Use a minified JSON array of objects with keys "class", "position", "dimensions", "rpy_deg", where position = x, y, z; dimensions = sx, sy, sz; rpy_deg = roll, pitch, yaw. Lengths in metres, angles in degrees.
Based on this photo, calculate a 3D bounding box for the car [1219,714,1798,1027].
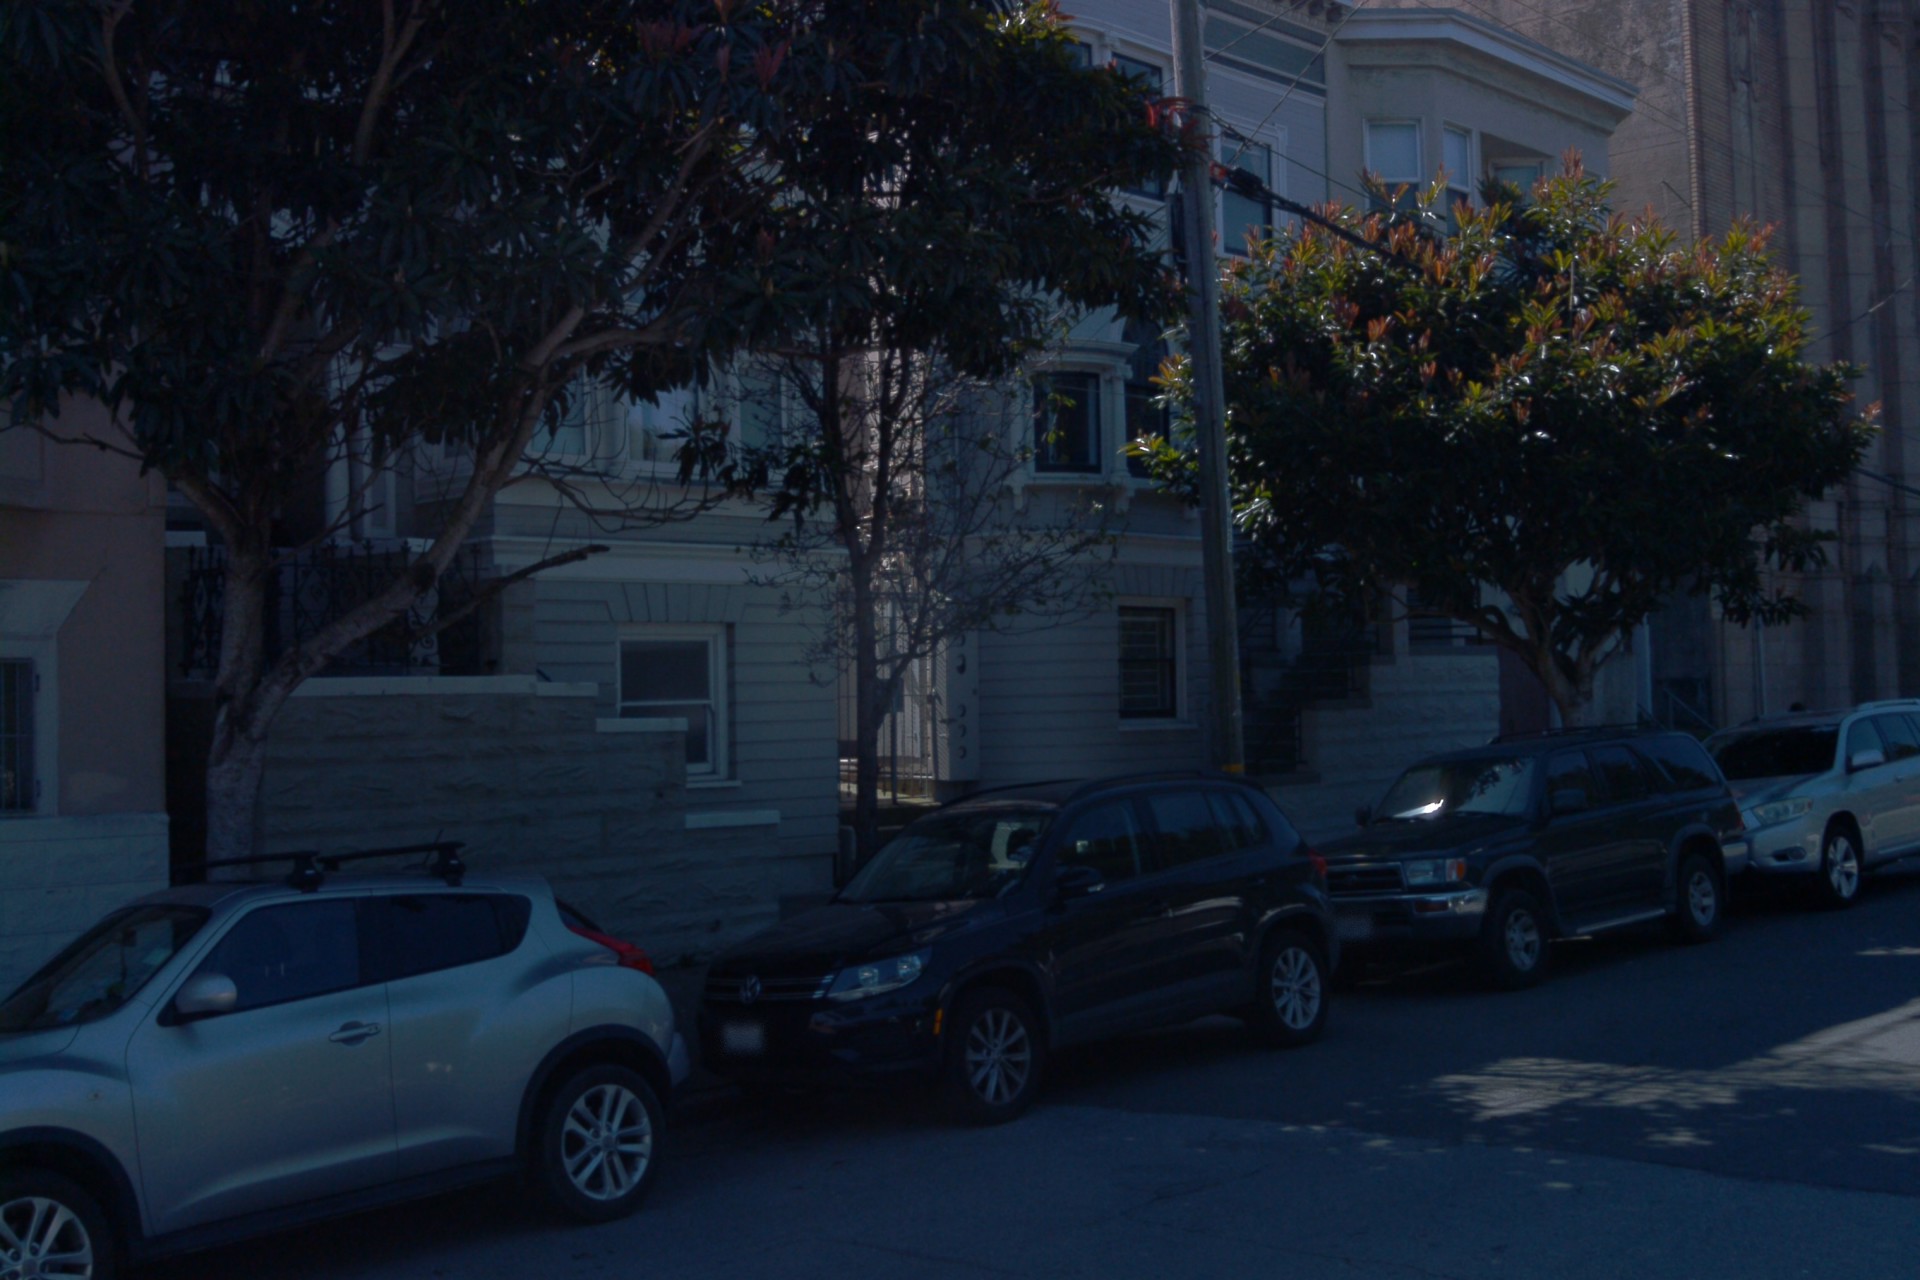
[{"class":"car","position":[4.285,1.572,15.606],"dimensions":[4.770,1.780,2.007],"rpy_deg":[-1,1,-43]}]

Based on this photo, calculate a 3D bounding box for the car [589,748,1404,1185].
[{"class":"car","position":[0.387,1.603,11.657],"dimensions":[2.069,1.660,4.545],"rpy_deg":[1,1,44]}]
